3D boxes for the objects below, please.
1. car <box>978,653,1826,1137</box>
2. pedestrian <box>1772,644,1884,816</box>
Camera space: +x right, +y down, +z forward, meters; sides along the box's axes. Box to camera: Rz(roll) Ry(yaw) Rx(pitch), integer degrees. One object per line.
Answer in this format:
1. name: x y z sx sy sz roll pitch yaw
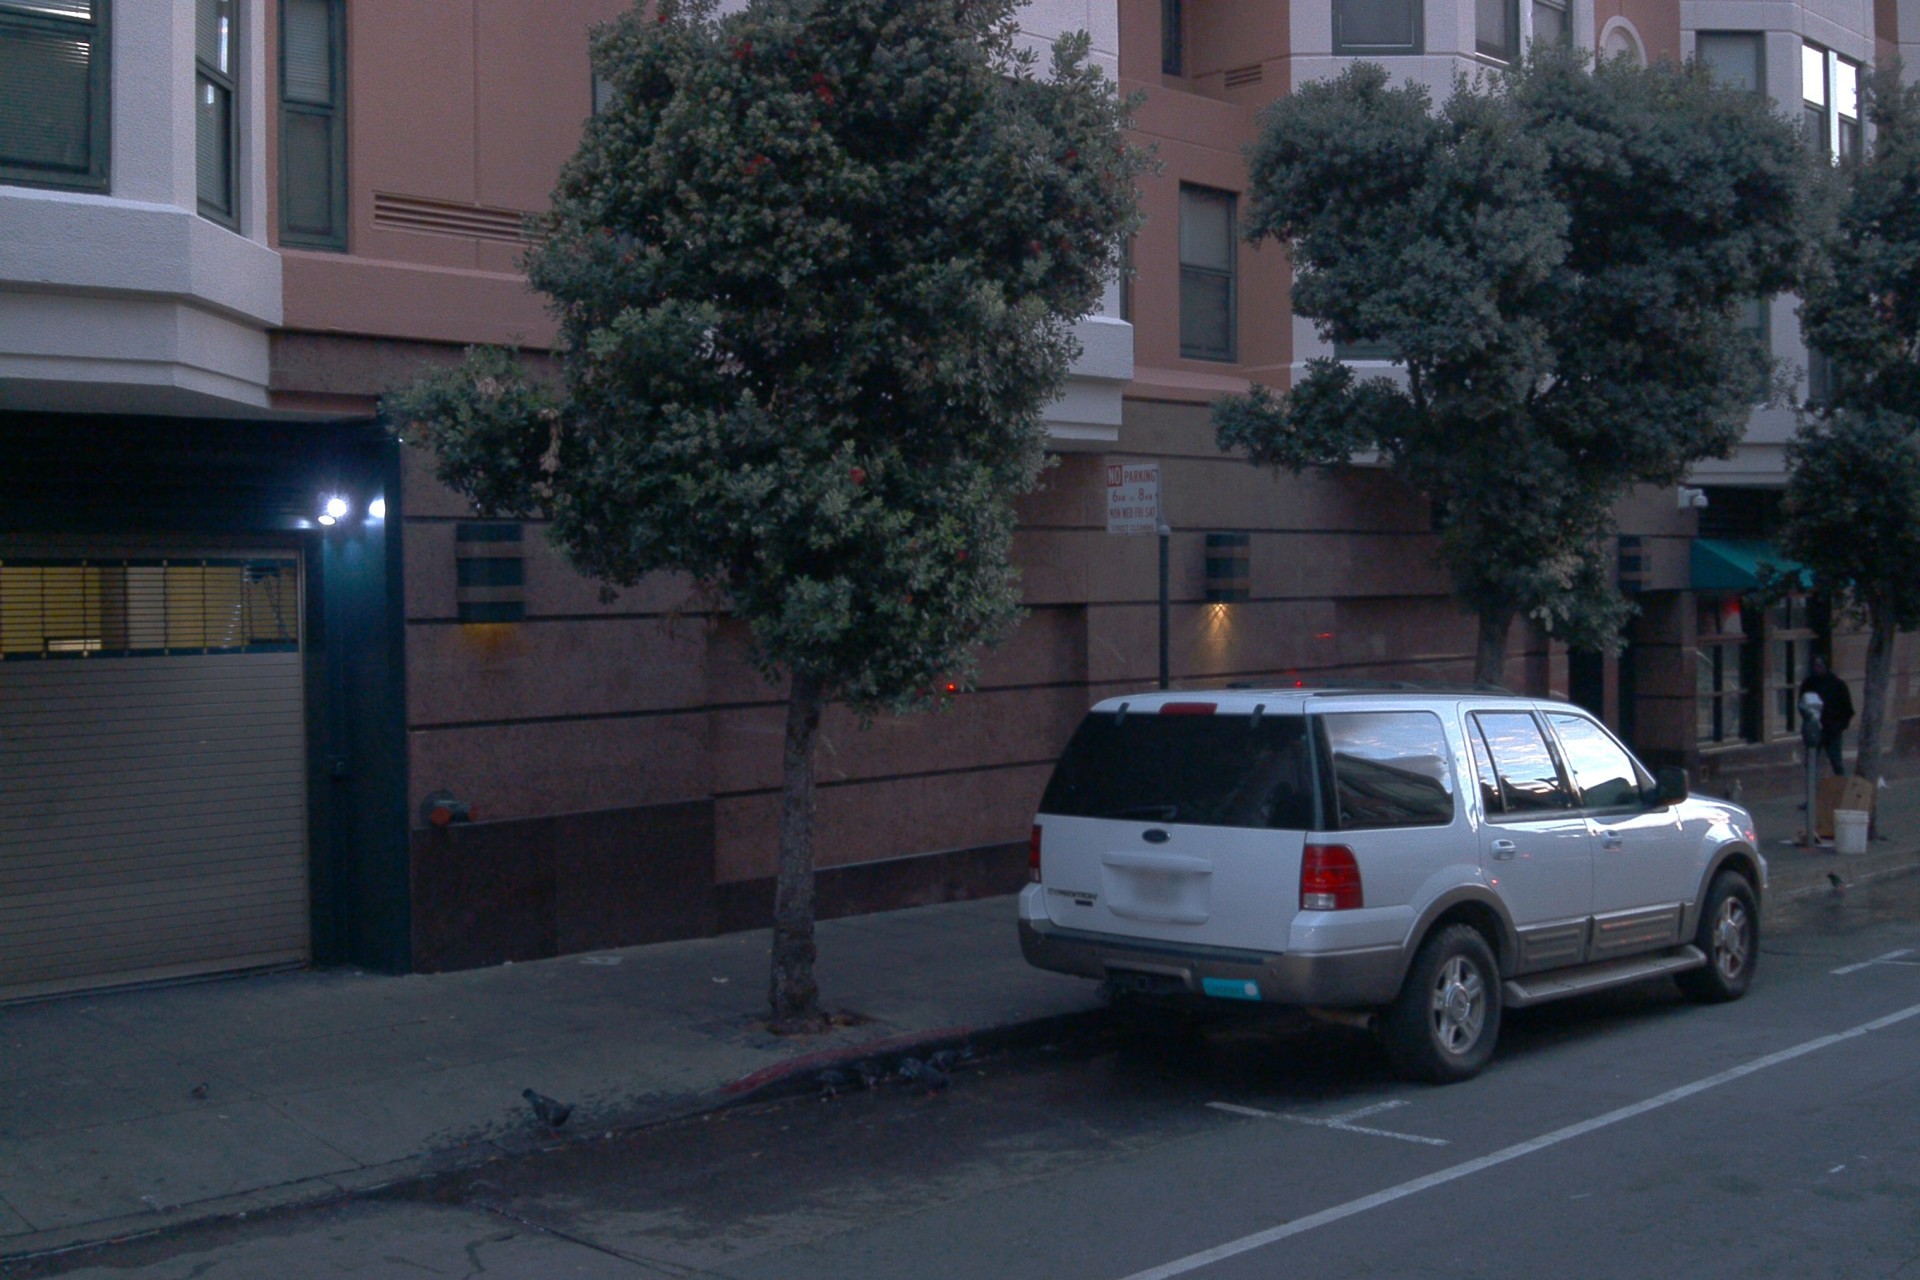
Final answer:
1. car: 2.666 1.113 11.382 2.194 1.990 5.086 1 1 45
2. pedestrian: 9.739 0.984 22.961 0.828 1.860 1.059 1 1 43
